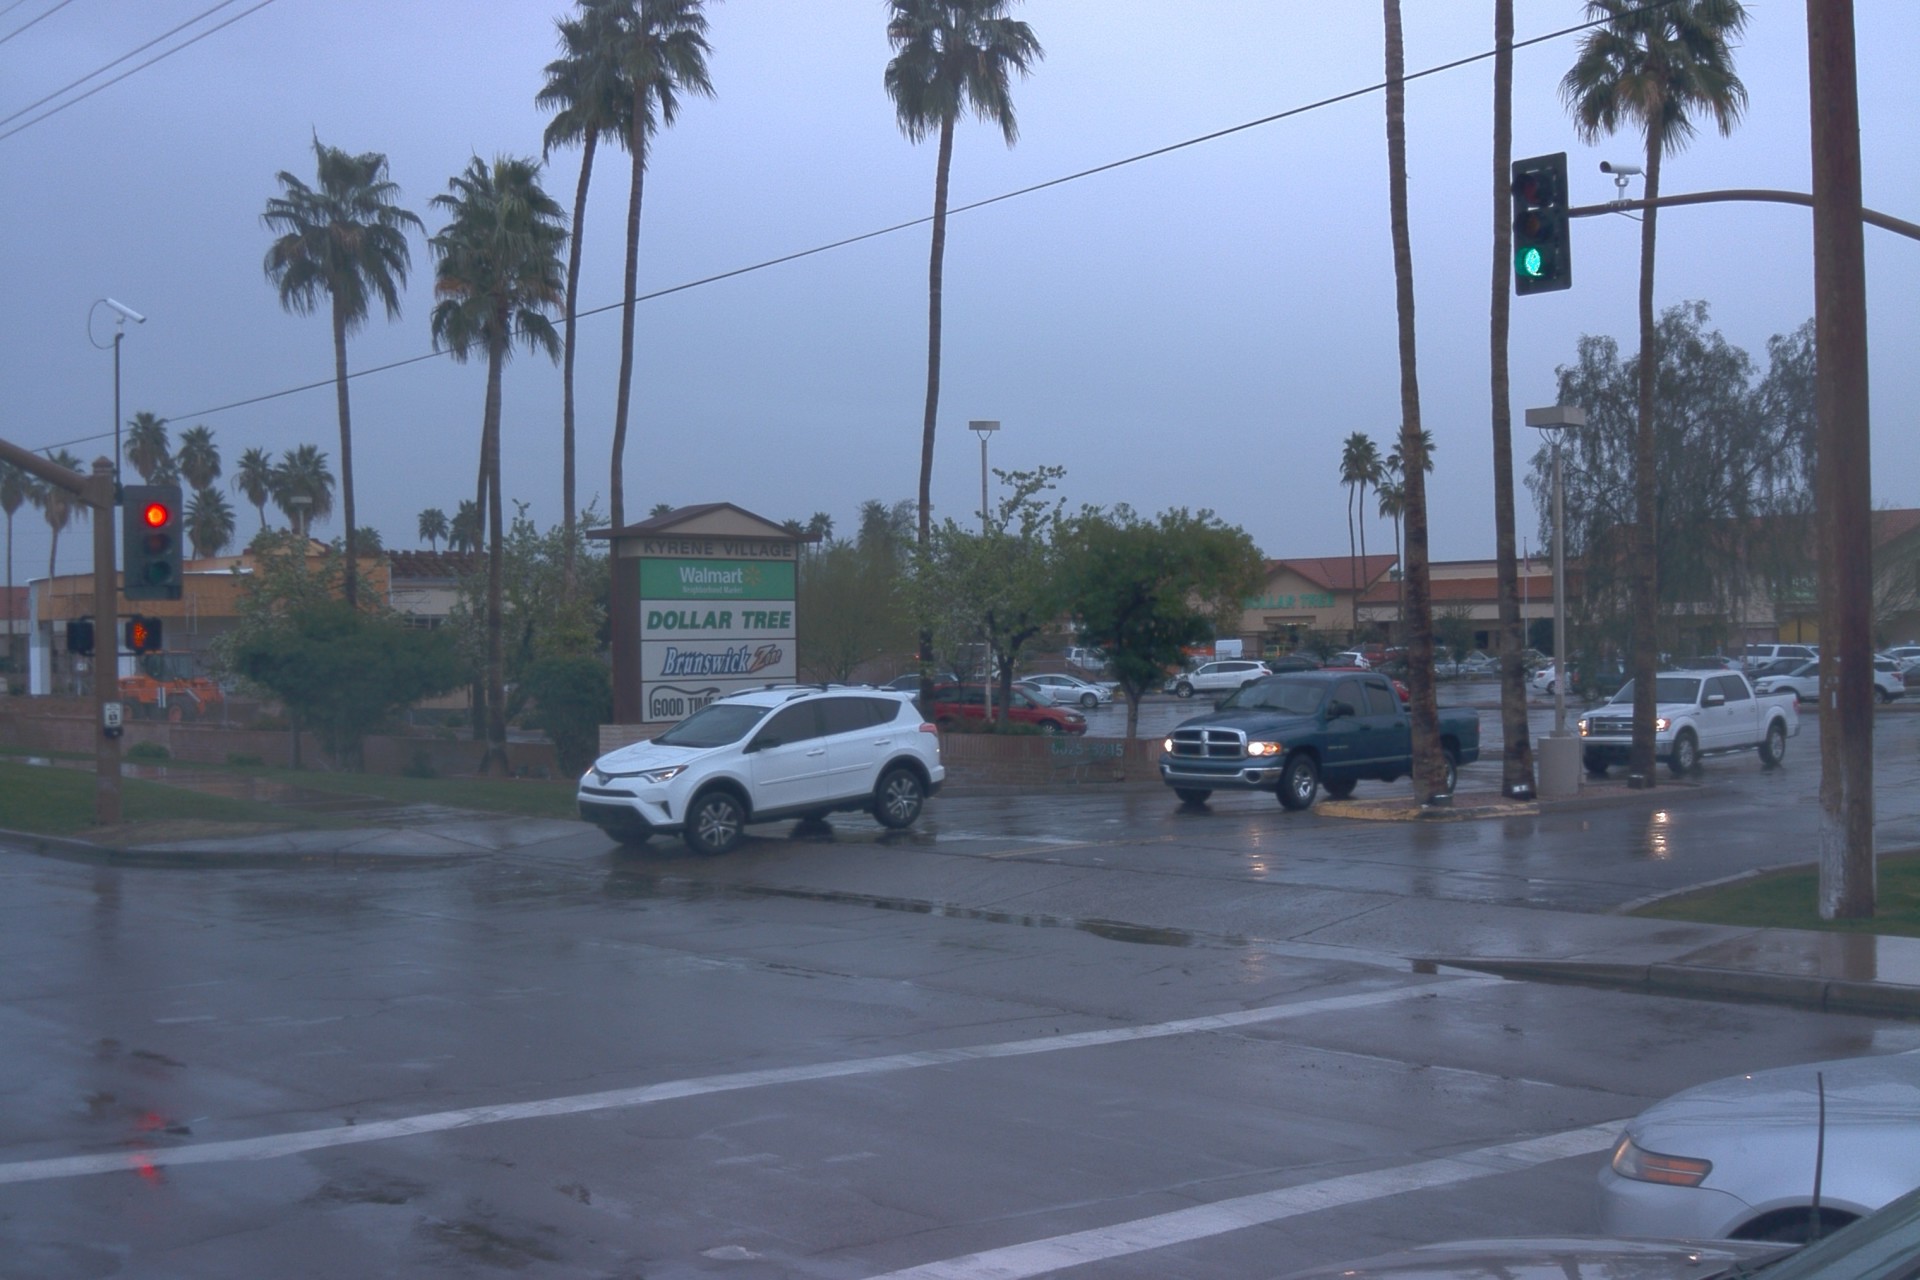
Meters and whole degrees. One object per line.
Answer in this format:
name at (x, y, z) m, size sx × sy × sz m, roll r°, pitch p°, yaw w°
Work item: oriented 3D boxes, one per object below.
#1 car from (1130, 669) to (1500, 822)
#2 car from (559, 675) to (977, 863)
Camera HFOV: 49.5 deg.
car at (5.272, 1.426, 30.294) m, size 2.433 × 2.000 × 5.767 m, roll 0°, pitch -1°, yaw 44°
car at (-2.145, 1.389, 24.105) m, size 4.519 × 1.940 × 2.037 m, roll 1°, pitch -1°, yaw -43°
